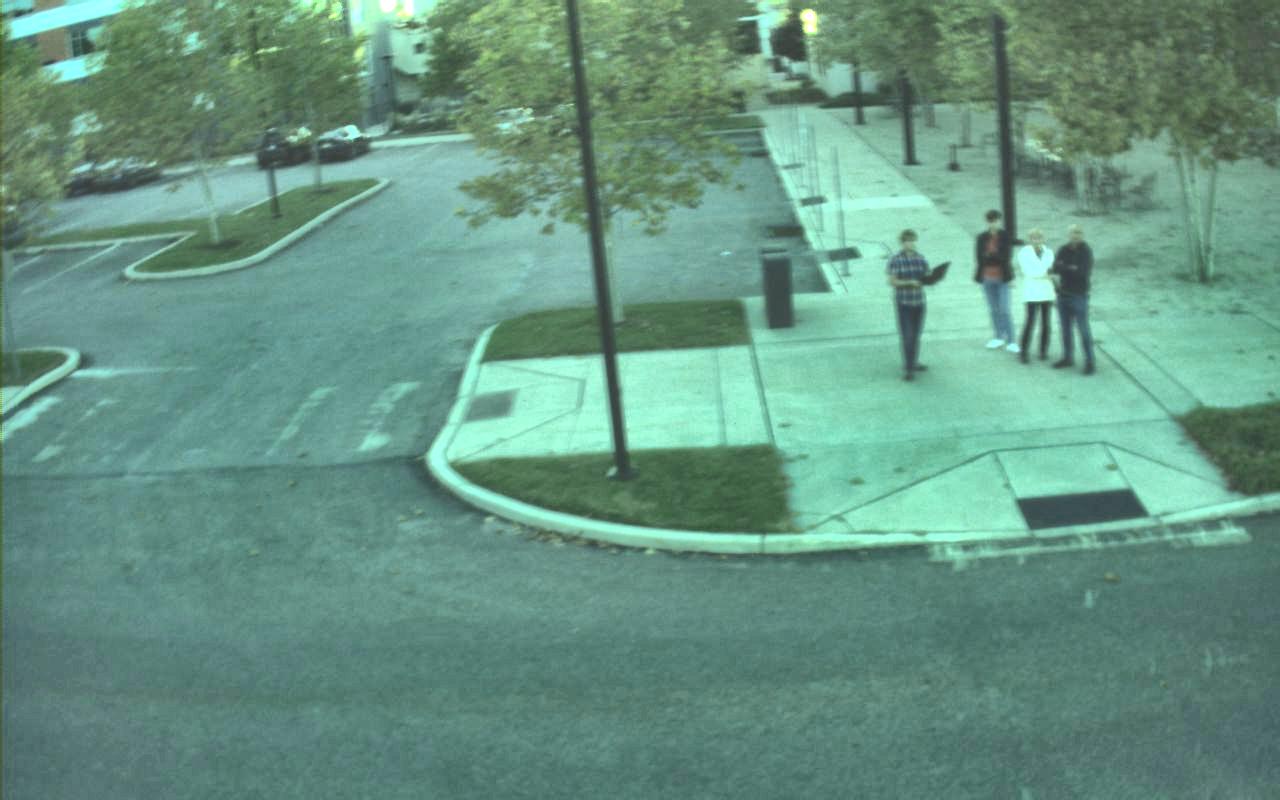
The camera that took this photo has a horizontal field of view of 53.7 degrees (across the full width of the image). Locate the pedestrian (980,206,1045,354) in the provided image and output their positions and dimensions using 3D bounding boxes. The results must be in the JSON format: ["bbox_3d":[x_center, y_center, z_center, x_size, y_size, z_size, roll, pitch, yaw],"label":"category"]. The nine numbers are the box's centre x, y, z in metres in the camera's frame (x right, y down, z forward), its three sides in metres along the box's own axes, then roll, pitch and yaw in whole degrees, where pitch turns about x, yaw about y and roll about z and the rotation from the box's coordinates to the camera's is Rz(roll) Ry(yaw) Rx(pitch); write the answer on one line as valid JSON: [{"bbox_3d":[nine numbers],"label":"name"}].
[{"bbox_3d":[4.744,-1.525,15.527,0.757,1.742,0.735,3,16,16],"label":"pedestrian"}]

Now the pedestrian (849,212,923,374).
[{"bbox_3d":[3.045,-1.329,15.362,0.836,1.837,0.805,3,15,13],"label":"pedestrian"}]

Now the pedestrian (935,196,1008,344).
[{"bbox_3d":[4.383,-1.716,16.208,0.800,1.788,0.778,6,16,25],"label":"pedestrian"}]

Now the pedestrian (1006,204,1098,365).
[{"bbox_3d":[5.086,-1.429,14.922,0.808,1.836,0.778,-5,15,-14],"label":"pedestrian"}]
